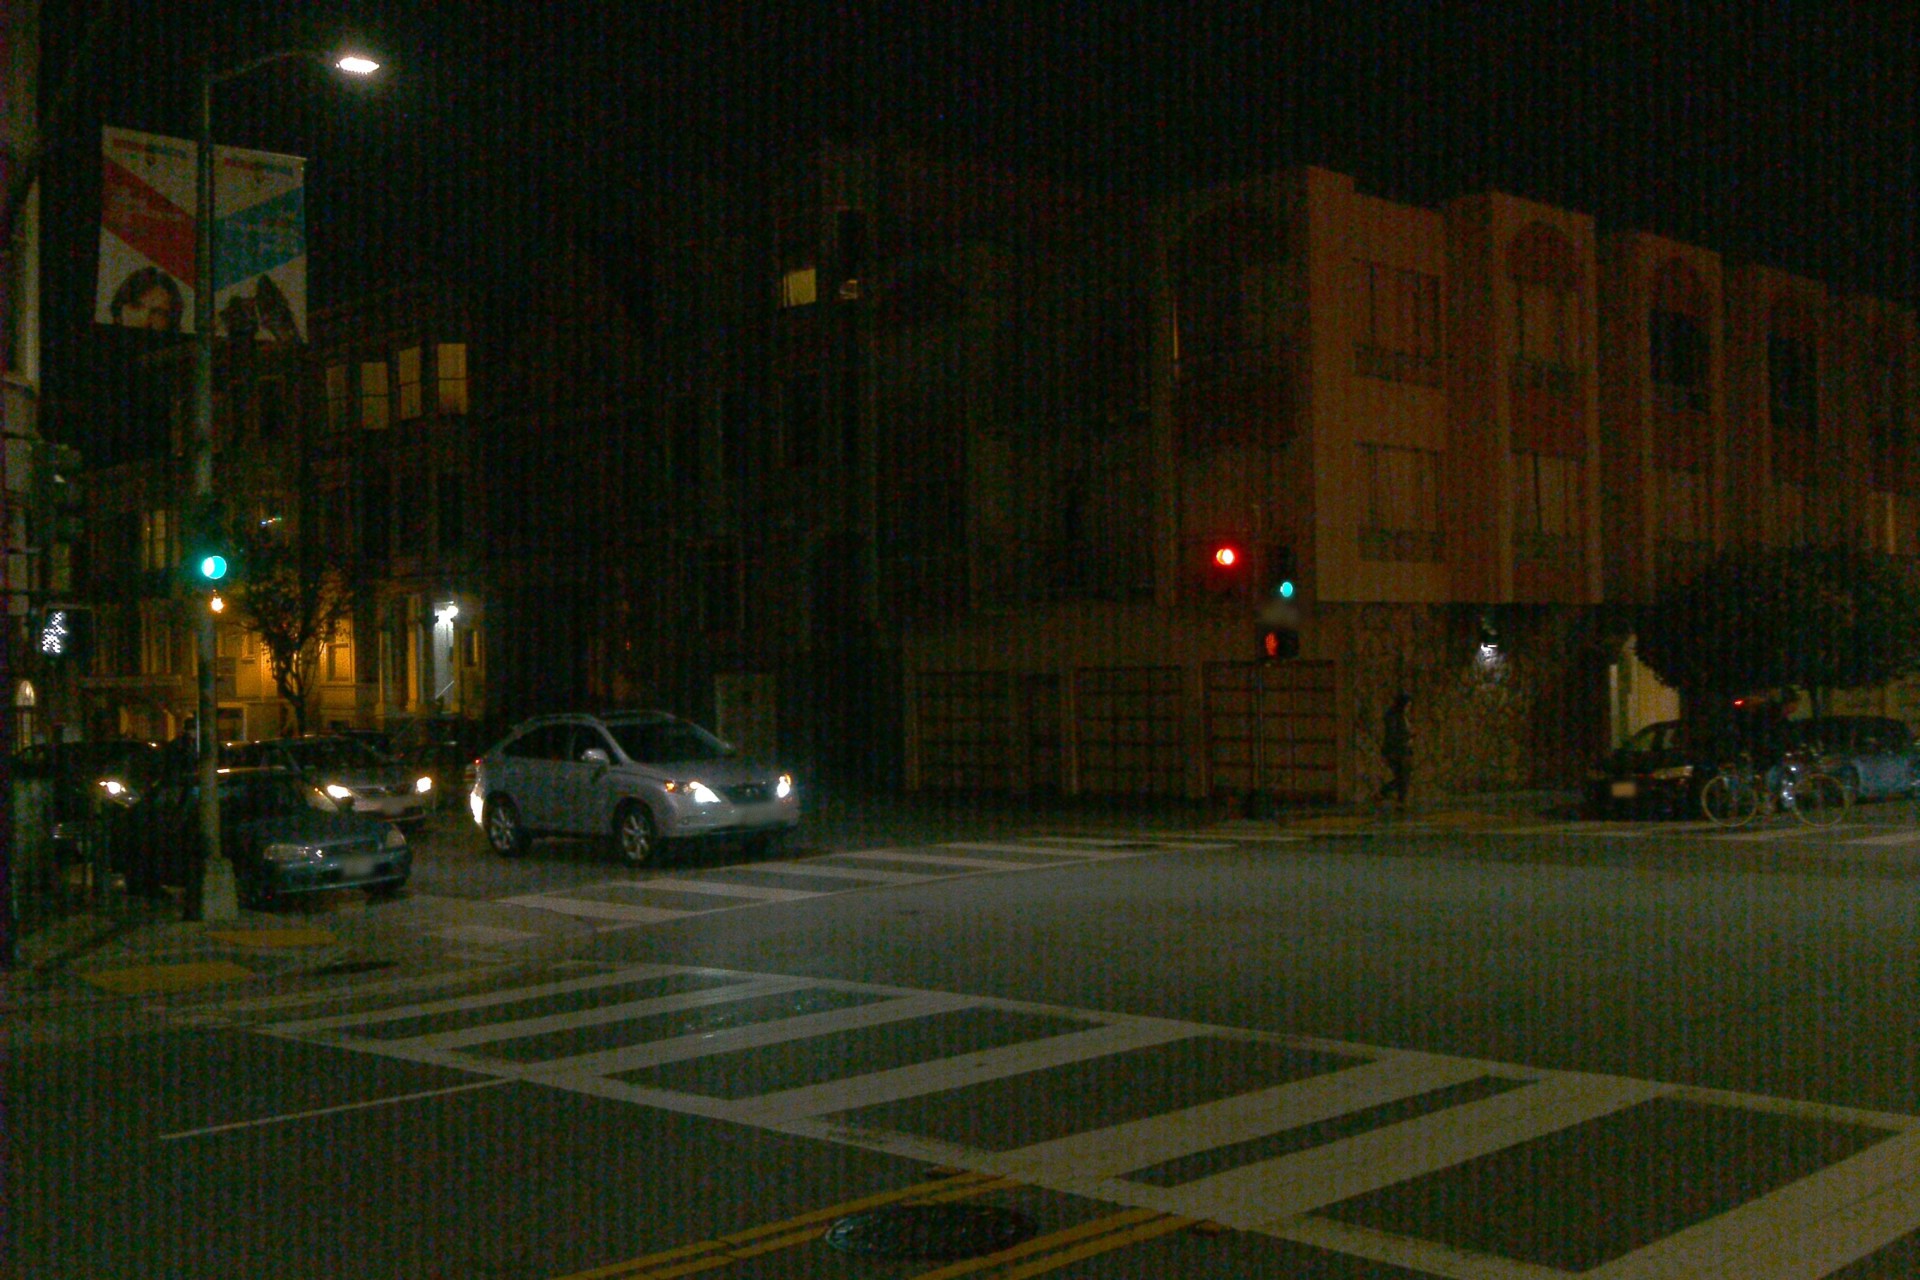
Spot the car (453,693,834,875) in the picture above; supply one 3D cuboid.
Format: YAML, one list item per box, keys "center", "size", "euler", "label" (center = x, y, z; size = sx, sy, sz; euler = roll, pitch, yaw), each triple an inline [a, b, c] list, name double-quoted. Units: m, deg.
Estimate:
- center: [-3.824, 1.596, 24.426]
  size: [2.139, 1.760, 4.613]
  euler: [1, 0, -44]
  label: "car"

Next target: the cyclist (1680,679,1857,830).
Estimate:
- center: [10.079, 1.403, 25.782]
  size: [1.894, 1.760, 0.832]
  euler: [1, 0, 33]
  label: "cyclist"

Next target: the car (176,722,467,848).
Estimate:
- center: [-9.319, 2.036, 29.970]
  size: [4.459, 1.450, 2.125]
  euler: [1, 0, 44]
  label: "car"

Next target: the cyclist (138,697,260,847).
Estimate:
- center: [-10.230, 1.739, 27.745]
  size: [0.832, 1.870, 1.925]
  euler: [1, 0, -43]
  label: "cyclist"

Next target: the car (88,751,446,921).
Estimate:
- center: [-7.499, 2.010, 22.140]
  size: [1.946, 1.350, 4.278]
  euler: [1, 0, -44]
  label: "car"

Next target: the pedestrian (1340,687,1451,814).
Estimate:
- center: [6.101, 1.530, 28.955]
  size: [1.175, 1.690, 0.935]
  euler: [1, 0, 43]
  label: "pedestrian"

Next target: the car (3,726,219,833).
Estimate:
- center: [-14.750, 2.352, 35.785]
  size: [2.021, 1.480, 4.494]
  euler: [1, 0, -42]
  label: "car"

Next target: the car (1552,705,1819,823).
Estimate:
- center: [10.588, 1.735, 29.944]
  size: [1.967, 1.430, 4.633]
  euler: [1, 0, 42]
  label: "car"
